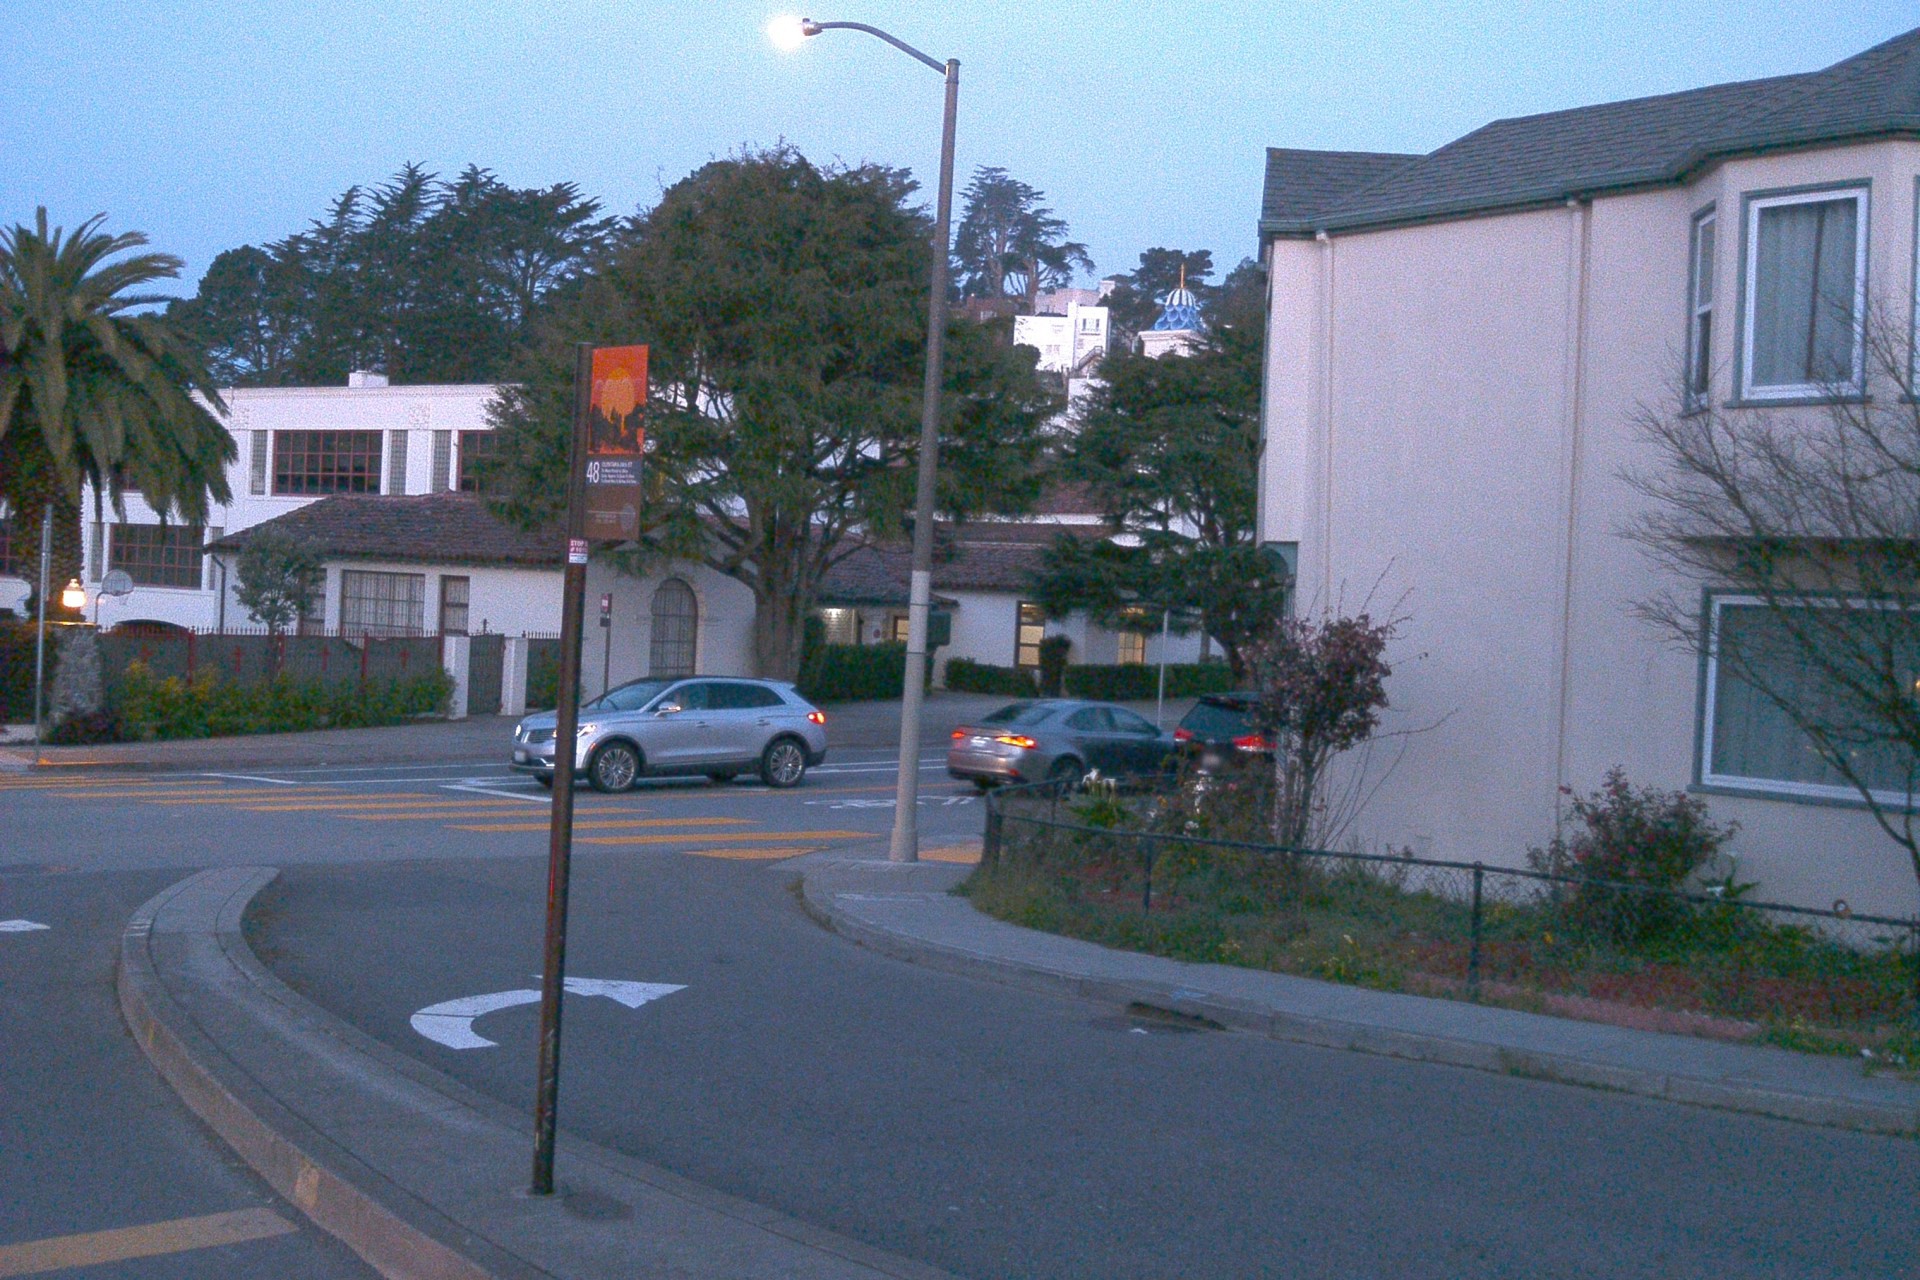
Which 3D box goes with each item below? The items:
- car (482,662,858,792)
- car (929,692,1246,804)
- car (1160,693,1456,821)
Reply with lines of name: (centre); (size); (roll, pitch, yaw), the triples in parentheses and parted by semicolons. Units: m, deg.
car: (-4.179, 1.204, 30.665); (5.027, 1.730, 2.150); (1, 0, -39)
car: (1.971, 1.564, 31.530); (4.639, 1.490, 2.041); (1, 0, -41)
car: (5.027, 1.629, 30.201); (3.819, 1.660, 2.058); (1, 0, -34)
